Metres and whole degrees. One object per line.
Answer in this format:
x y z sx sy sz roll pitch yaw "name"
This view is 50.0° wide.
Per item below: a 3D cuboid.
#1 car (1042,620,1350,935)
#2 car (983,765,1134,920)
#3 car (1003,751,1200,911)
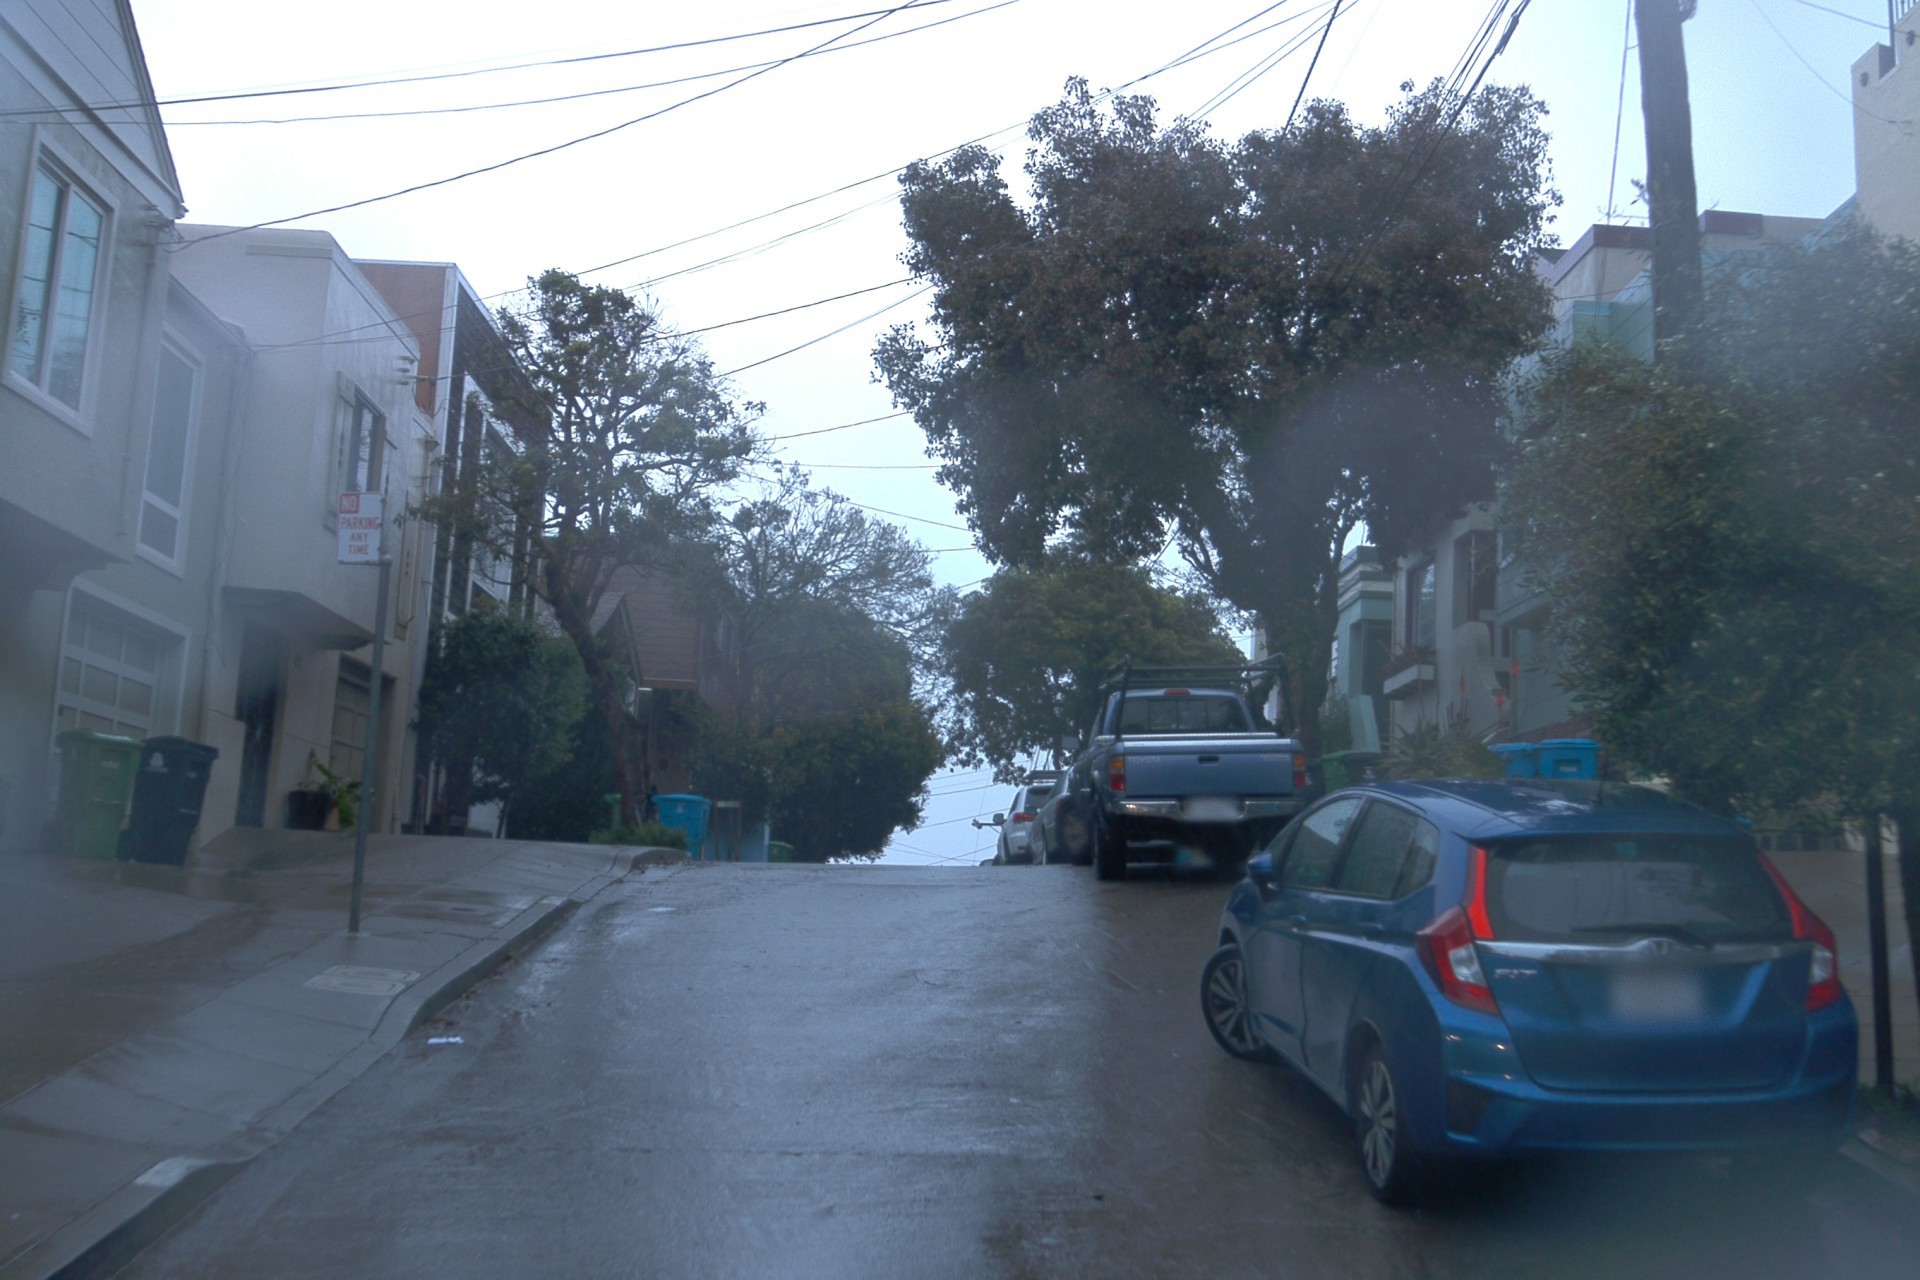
2.016 1.086 19.349 2.116 2.510 5.437 1 0 -1 "car"
1.621 3.432 35.846 2.211 2.140 4.912 1 0 -2 "car"
1.835 2.538 28.427 2.133 1.660 5.057 1 0 -3 "car"
